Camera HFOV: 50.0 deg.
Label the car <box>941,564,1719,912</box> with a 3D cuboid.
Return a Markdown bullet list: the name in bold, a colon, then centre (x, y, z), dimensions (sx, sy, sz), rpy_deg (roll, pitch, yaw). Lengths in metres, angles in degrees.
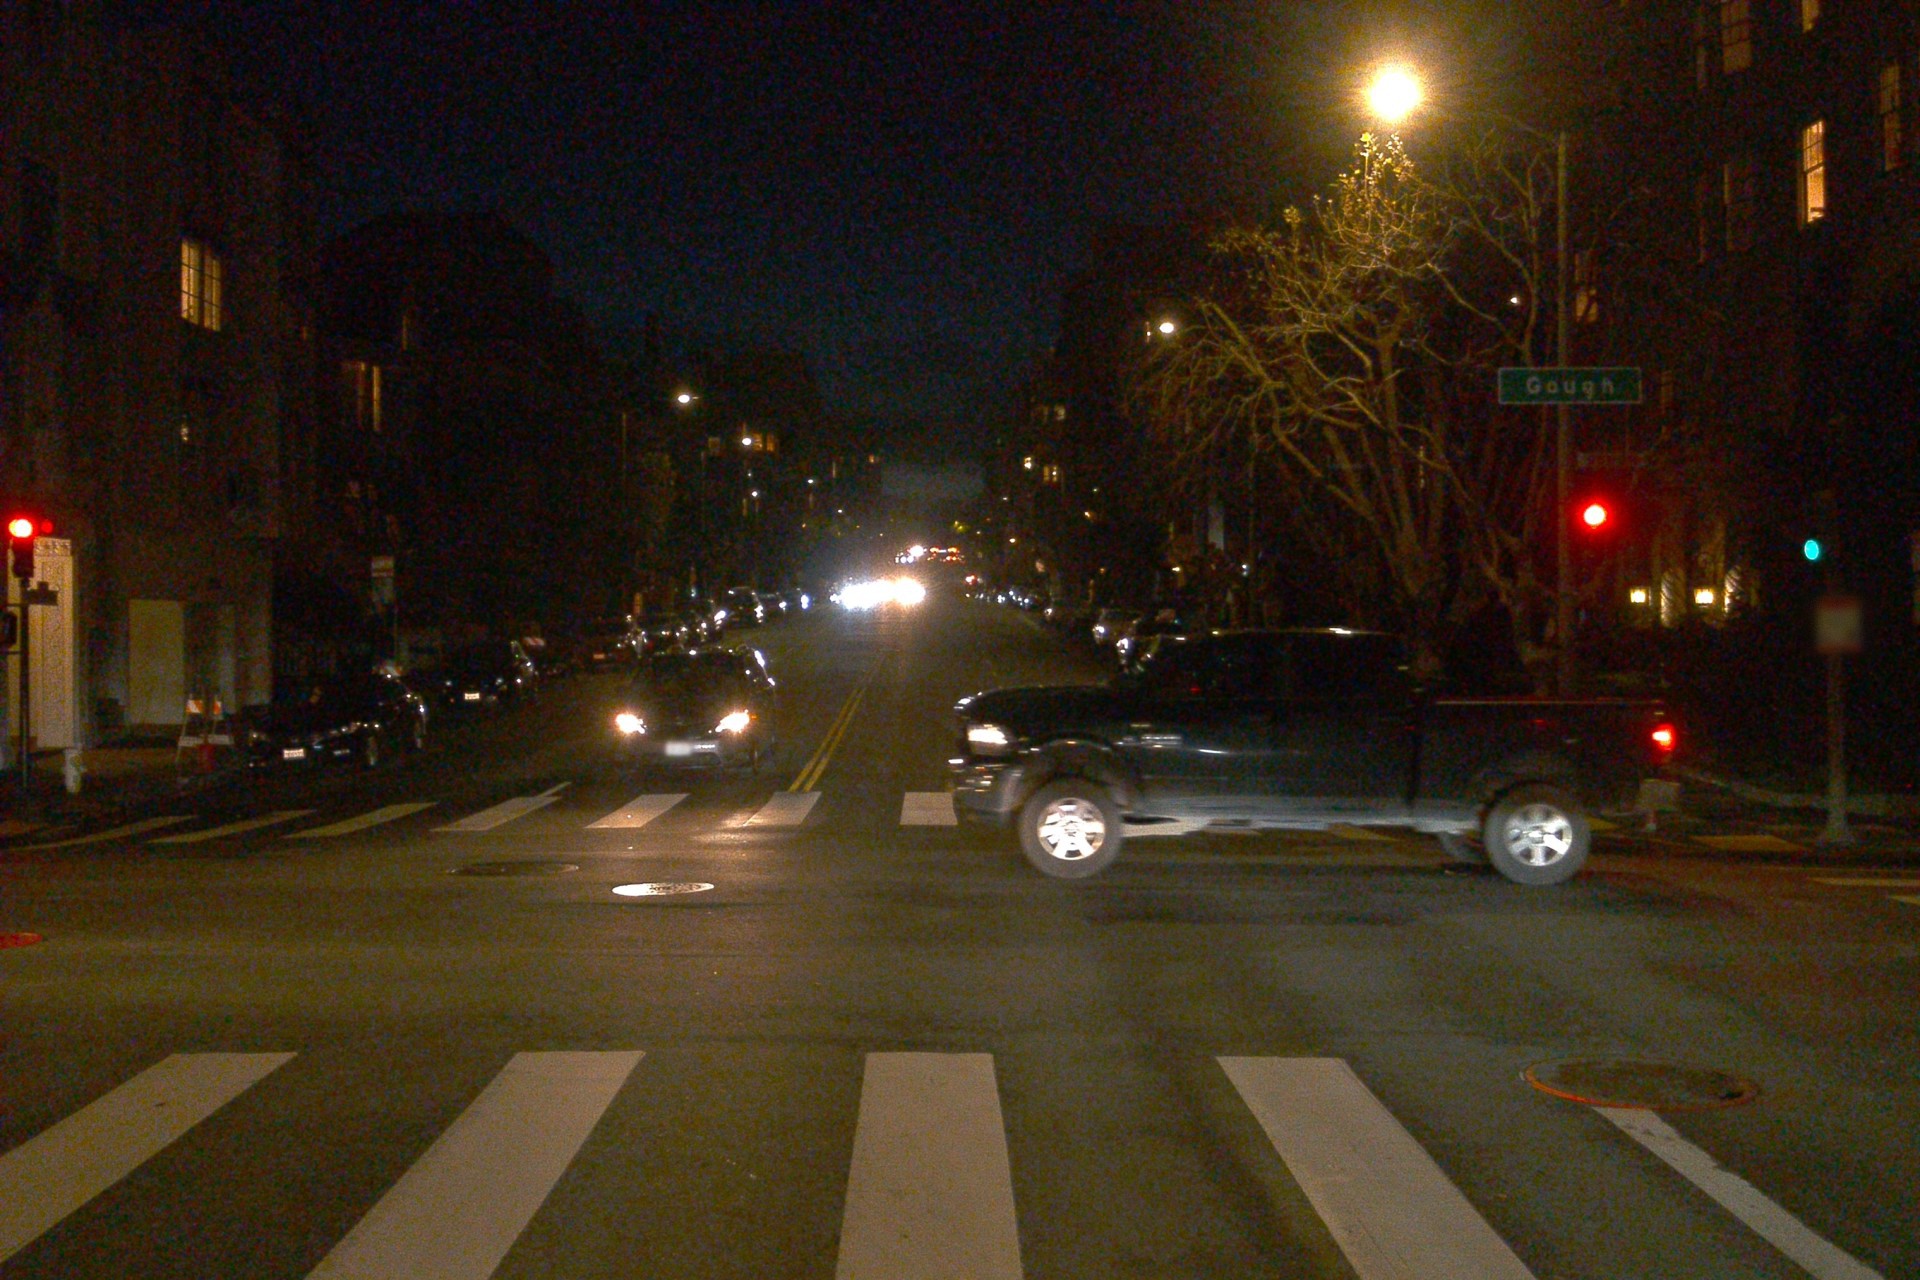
- **car**: centre (2.855, 0.748, 17.221), dimensions (5.980, 2.592, 2.543), rpy_deg (1, 0, -1)

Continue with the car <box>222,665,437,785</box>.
- **car**: centre (-10.051, 1.304, 33.211), dimensions (2.045, 1.673, 4.519), rpy_deg (1, 0, 0)

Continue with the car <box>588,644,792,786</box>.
- **car**: centre (-3.804, 1.011, 29.922), dimensions (2.293, 1.803, 4.677), rpy_deg (1, 0, 0)
